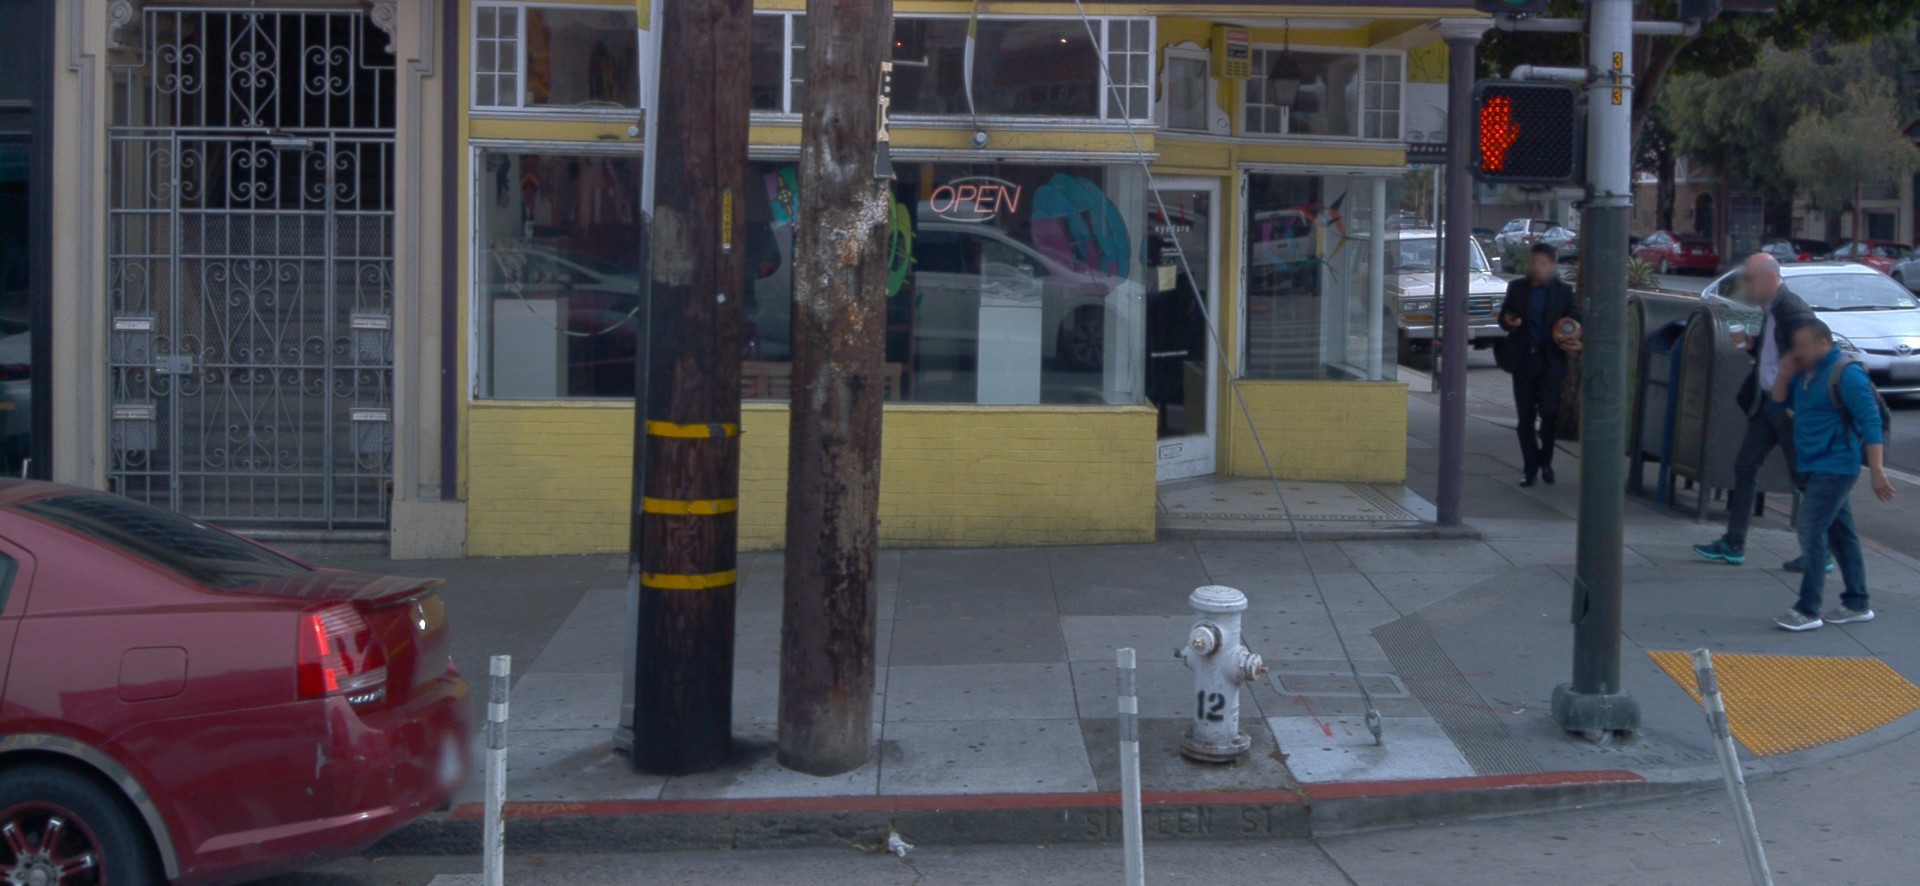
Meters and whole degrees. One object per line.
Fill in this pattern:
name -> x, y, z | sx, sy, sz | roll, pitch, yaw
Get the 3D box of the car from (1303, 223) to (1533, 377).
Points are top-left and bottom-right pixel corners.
car -> 6.399, -2.126, 29.397 | 2.232, 1.940, 4.787 | 0, 6, 0

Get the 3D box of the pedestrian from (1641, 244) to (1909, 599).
pedestrian -> 4.522, -0.164, 11.522 | 1.100, 1.872, 1.006 | 0, 2, 0

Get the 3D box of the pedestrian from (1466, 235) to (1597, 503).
pedestrian -> 4.077, -0.560, 14.757 | 0.760, 1.836, 0.926 | 0, 2, 6
